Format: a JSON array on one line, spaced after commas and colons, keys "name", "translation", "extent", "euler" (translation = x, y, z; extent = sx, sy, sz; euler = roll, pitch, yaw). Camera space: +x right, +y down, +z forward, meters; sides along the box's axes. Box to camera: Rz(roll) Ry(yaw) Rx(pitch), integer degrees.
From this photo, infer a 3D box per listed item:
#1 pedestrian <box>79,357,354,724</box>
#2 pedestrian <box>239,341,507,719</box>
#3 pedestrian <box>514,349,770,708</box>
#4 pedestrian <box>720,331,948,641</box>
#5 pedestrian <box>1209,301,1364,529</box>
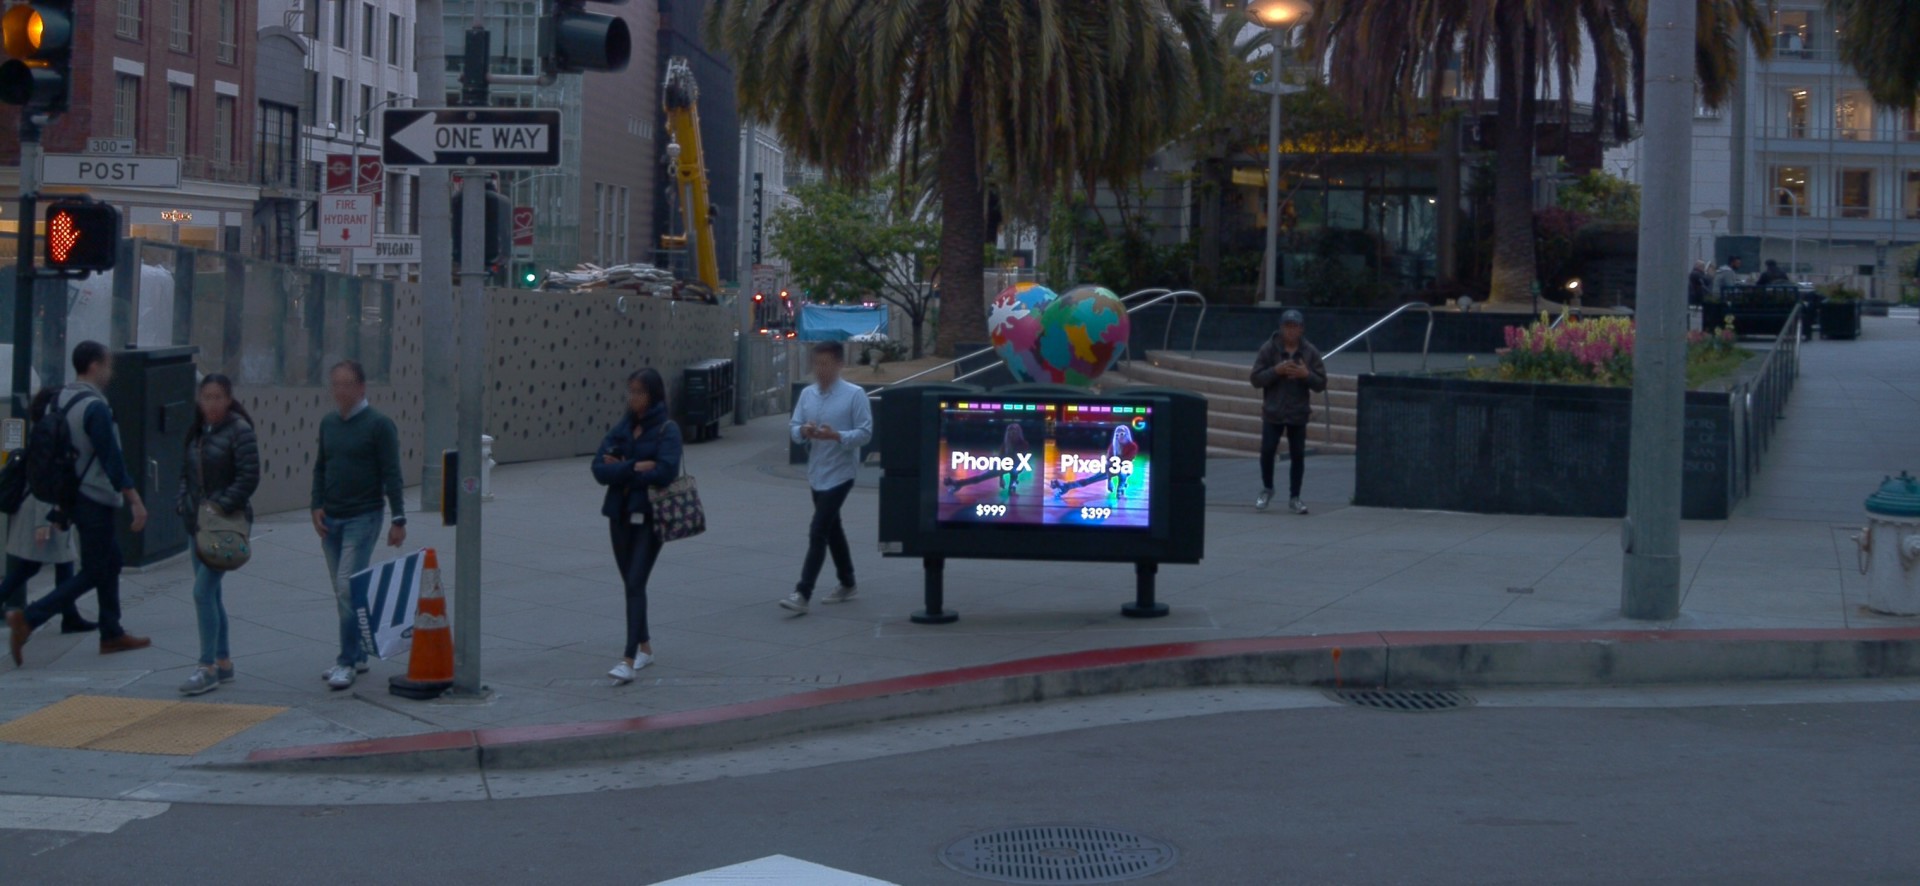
[{"name": "pedestrian", "translation": [-3.885, 0.448, 10.805], "extent": [1.001, 1.719, 1.001], "euler": [1, 2, 43]}, {"name": "pedestrian", "translation": [-3.139, 0.400, 11.062], "extent": [1.001, 1.829, 1.001], "euler": [1, 2, 43]}, {"name": "pedestrian", "translation": [-1.678, 0.402, 11.029], "extent": [1.000, 1.749, 1.002], "euler": [0, 2, 18]}, {"name": "pedestrian", "translation": [-0.782, 0.211, 12.808], "extent": [1.001, 1.759, 1.001], "euler": [-2, 2, -44]}, {"name": "pedestrian", "translation": [2.641, -0.258, 16.791], "extent": [1.000, 1.759, 1.002], "euler": [0, 2, -7]}]
